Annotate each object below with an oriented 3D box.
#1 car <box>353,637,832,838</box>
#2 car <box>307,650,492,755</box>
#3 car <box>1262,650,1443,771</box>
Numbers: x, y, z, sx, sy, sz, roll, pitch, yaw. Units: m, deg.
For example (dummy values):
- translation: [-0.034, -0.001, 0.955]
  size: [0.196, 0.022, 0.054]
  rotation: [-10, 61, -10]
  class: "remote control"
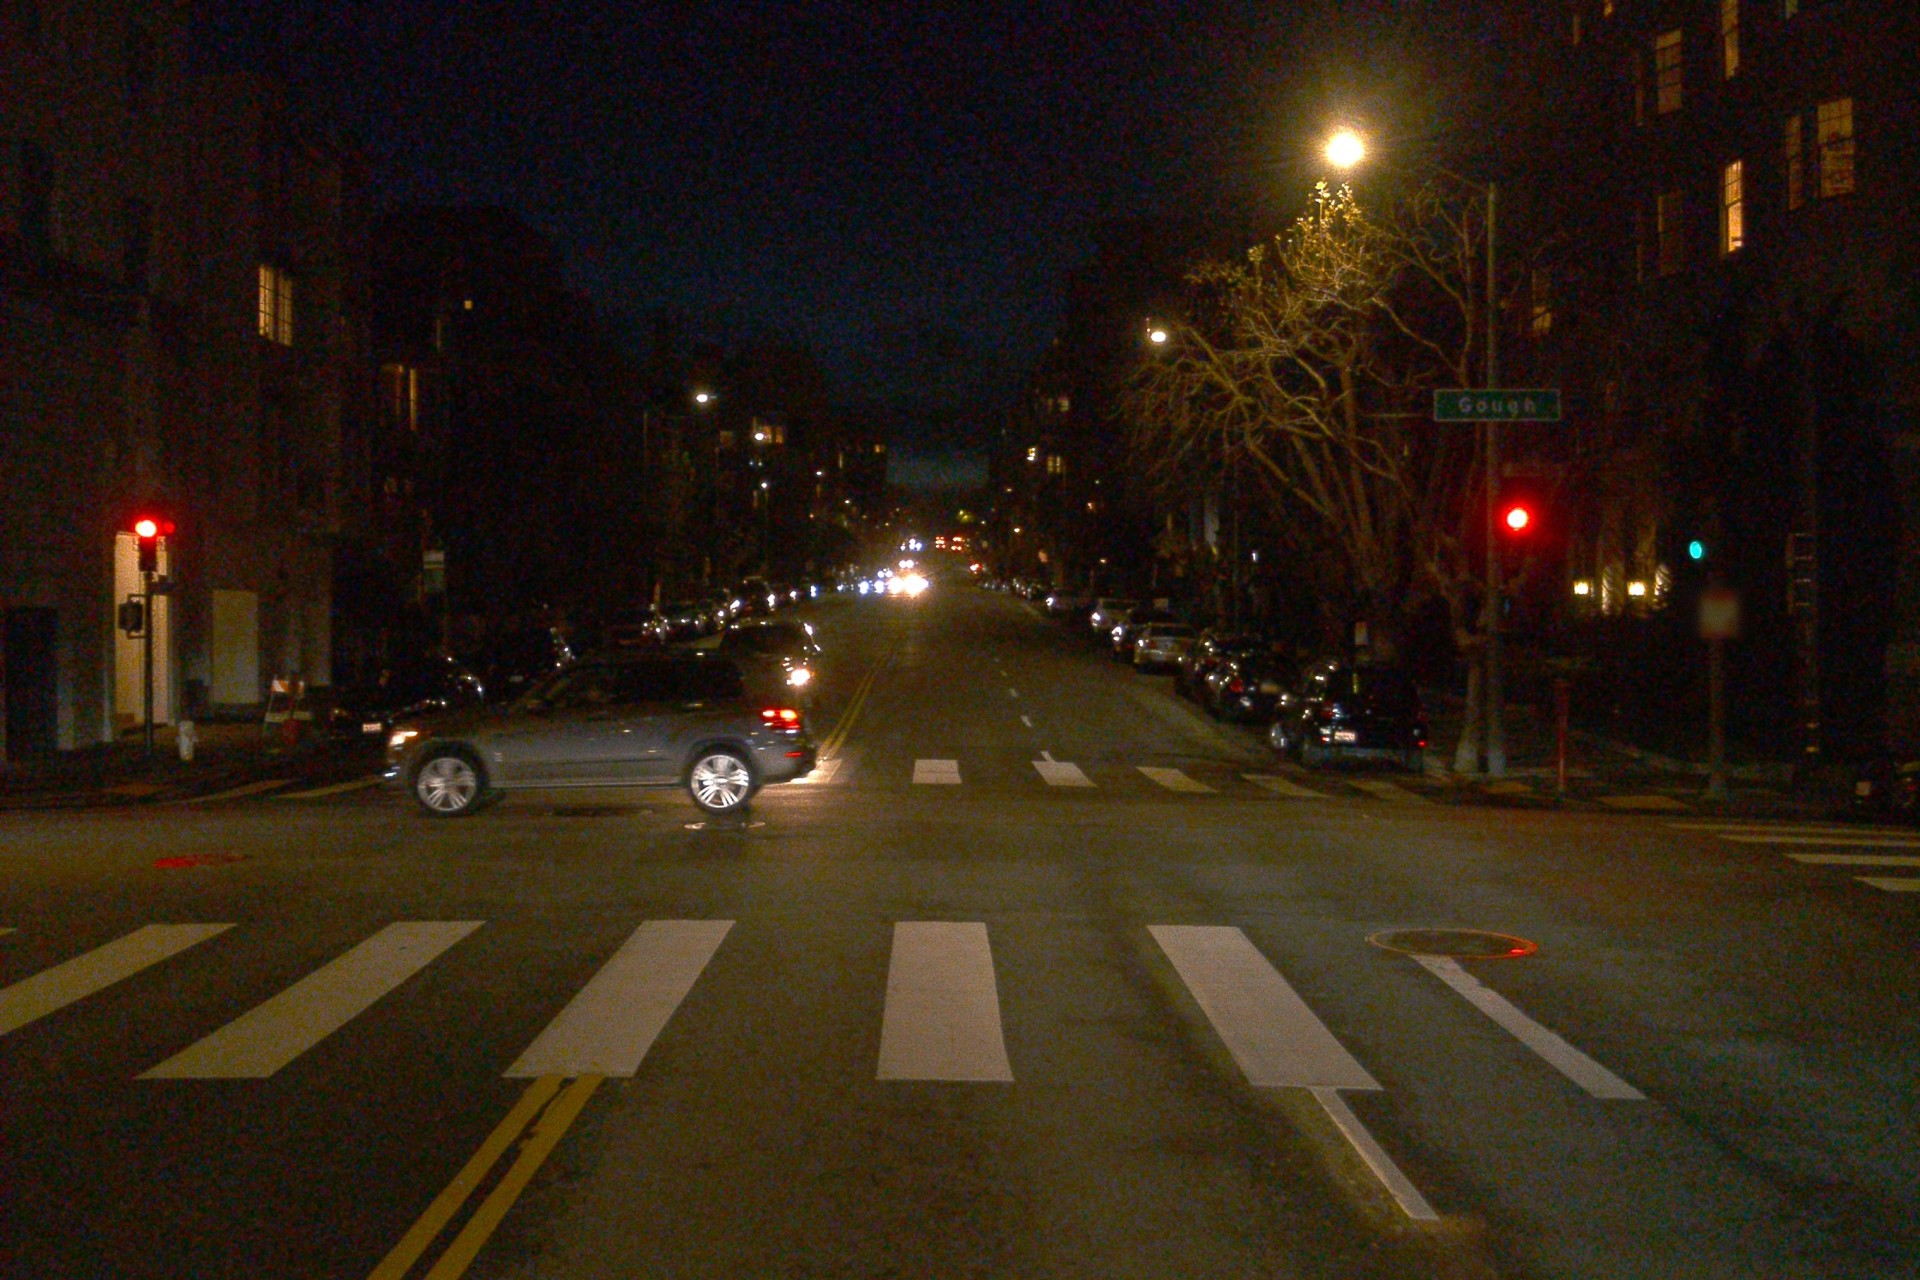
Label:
- translation: [-3.675, 0.957, 21.292]
  size: [4.578, 1.883, 2.051]
  rotation: [1, 0, -1]
  class: "car"
- translation: [-9.983, 1.065, 37.031]
  size: [2.045, 1.673, 4.519]
  rotation: [1, 0, 0]
  class: "car"
- translation: [6.139, 1.064, 32.674]
  size: [1.802, 1.714, 4.078]
  rotation: [1, 0, -4]
  class: "car"
